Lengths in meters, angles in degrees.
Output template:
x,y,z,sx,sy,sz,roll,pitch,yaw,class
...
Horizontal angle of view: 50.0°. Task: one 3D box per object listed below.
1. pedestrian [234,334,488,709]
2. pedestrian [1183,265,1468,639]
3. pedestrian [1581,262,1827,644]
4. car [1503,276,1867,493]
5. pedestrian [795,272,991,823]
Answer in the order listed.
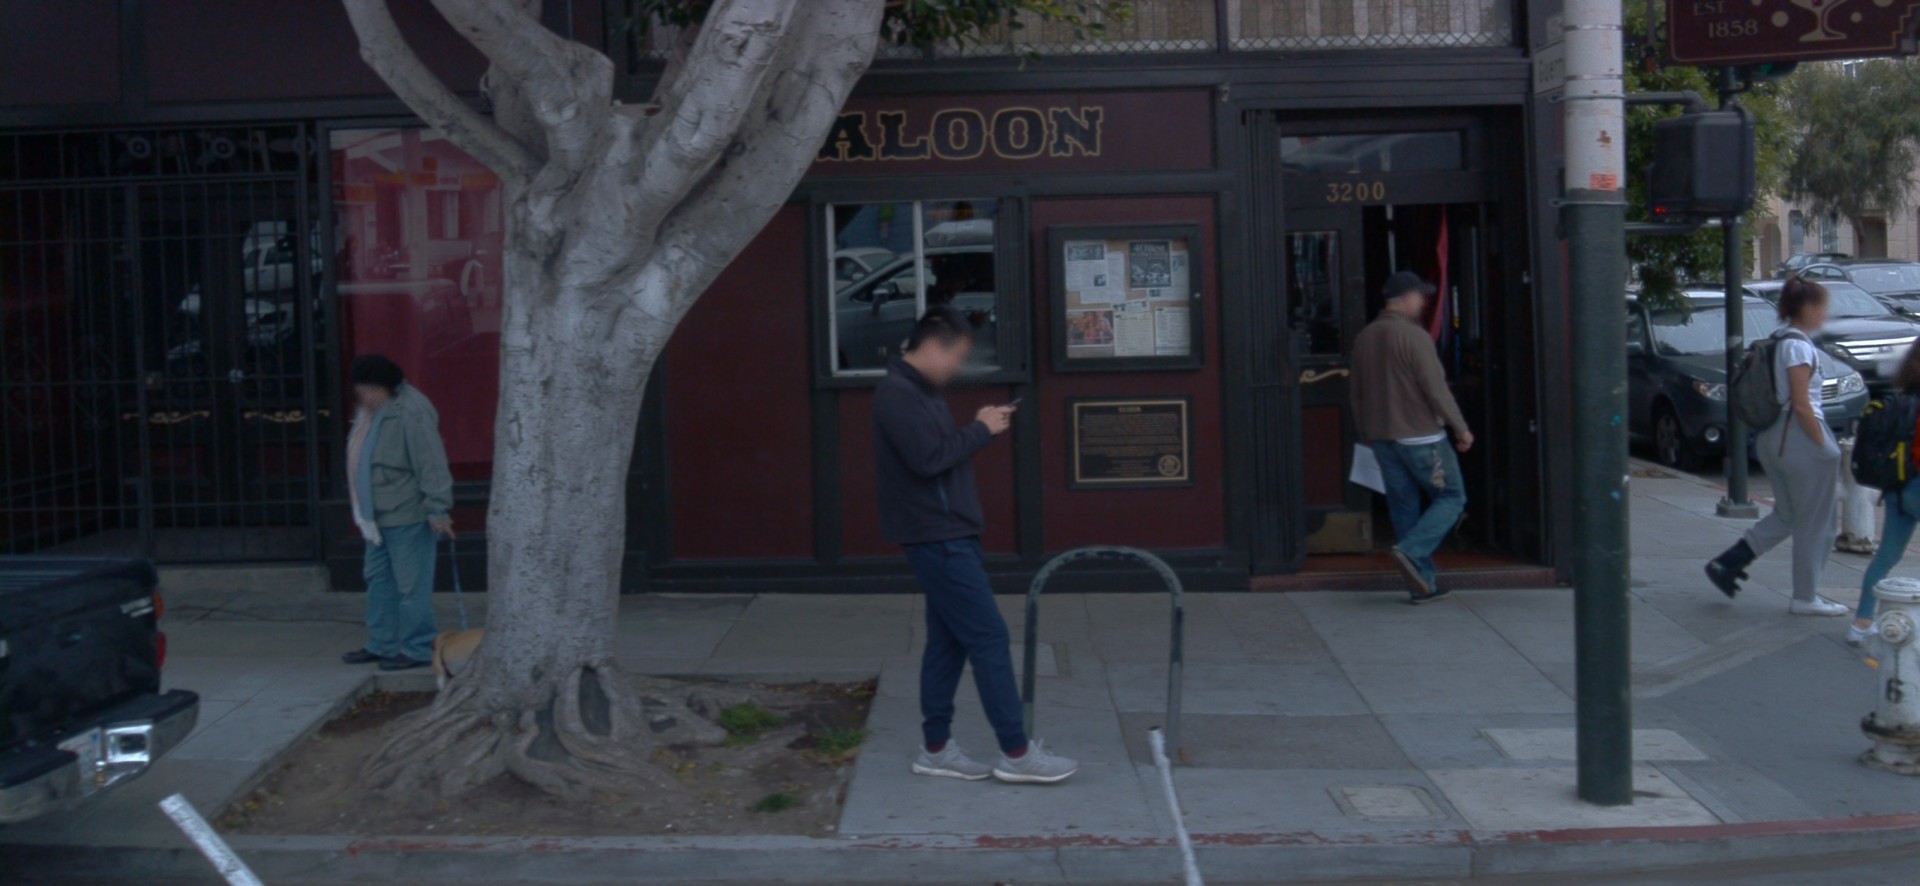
x,y,z,sx,sy,sz,roll,pitch,yaw,class
-2.870,0.335,9.950,0.896,1.667,0.928,0,2,5,pedestrian
2.023,-0.020,11.402,1.086,1.896,1.138,-2,3,-45,pedestrian
4.005,0.008,11.168,1.018,1.957,0.991,0,2,5,pedestrian
7.091,-0.713,20.714,2.036,1.820,4.667,0,5,0,car
-0.255,0.357,8.049,0.726,2.027,0.810,0,2,-1,pedestrian
